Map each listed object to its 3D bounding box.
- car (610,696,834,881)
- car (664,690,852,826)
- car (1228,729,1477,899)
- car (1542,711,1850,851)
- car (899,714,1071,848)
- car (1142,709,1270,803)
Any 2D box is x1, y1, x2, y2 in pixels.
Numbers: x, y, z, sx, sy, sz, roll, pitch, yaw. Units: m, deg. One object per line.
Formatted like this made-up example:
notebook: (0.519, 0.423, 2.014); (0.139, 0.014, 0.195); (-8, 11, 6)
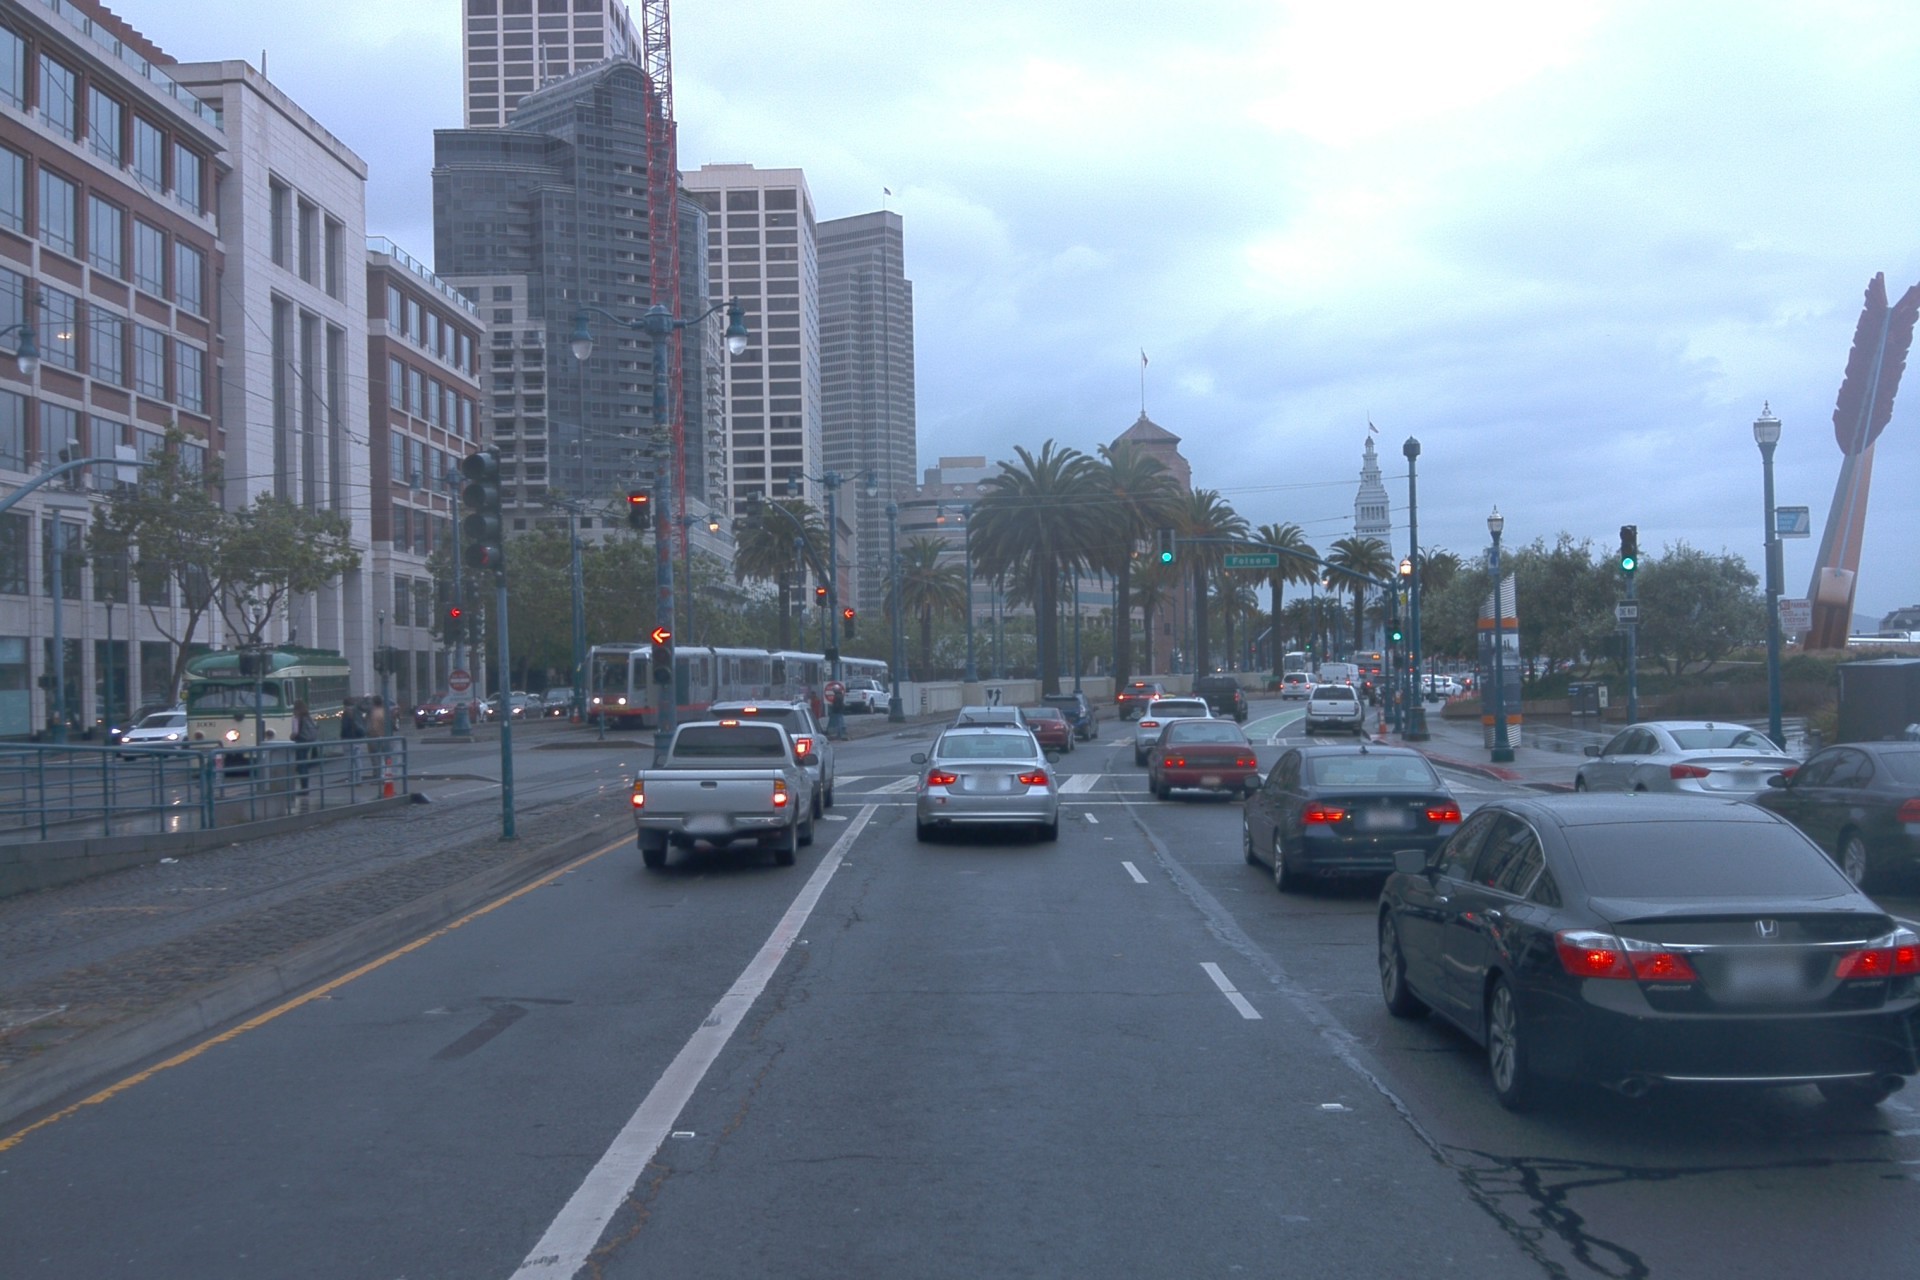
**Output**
car: (-2.634, 1.612, 24.029); (2.053, 1.860, 4.771); (0, -1, 0)
car: (-2.990, 1.728, 31.826); (2.401, 1.870, 5.027); (0, -1, 0)
car: (3.900, 1.701, 21.314); (1.869, 1.450, 4.344); (0, -1, 2)
car: (9.442, 1.765, 27.134); (2.246, 1.550, 5.105); (0, -1, 1)
car: (0.333, 1.777, 27.301); (2.067, 1.510, 4.625); (0, -1, 1)
car: (4.169, 1.956, 35.631); (1.924, 1.450, 3.944); (0, -1, 3)
